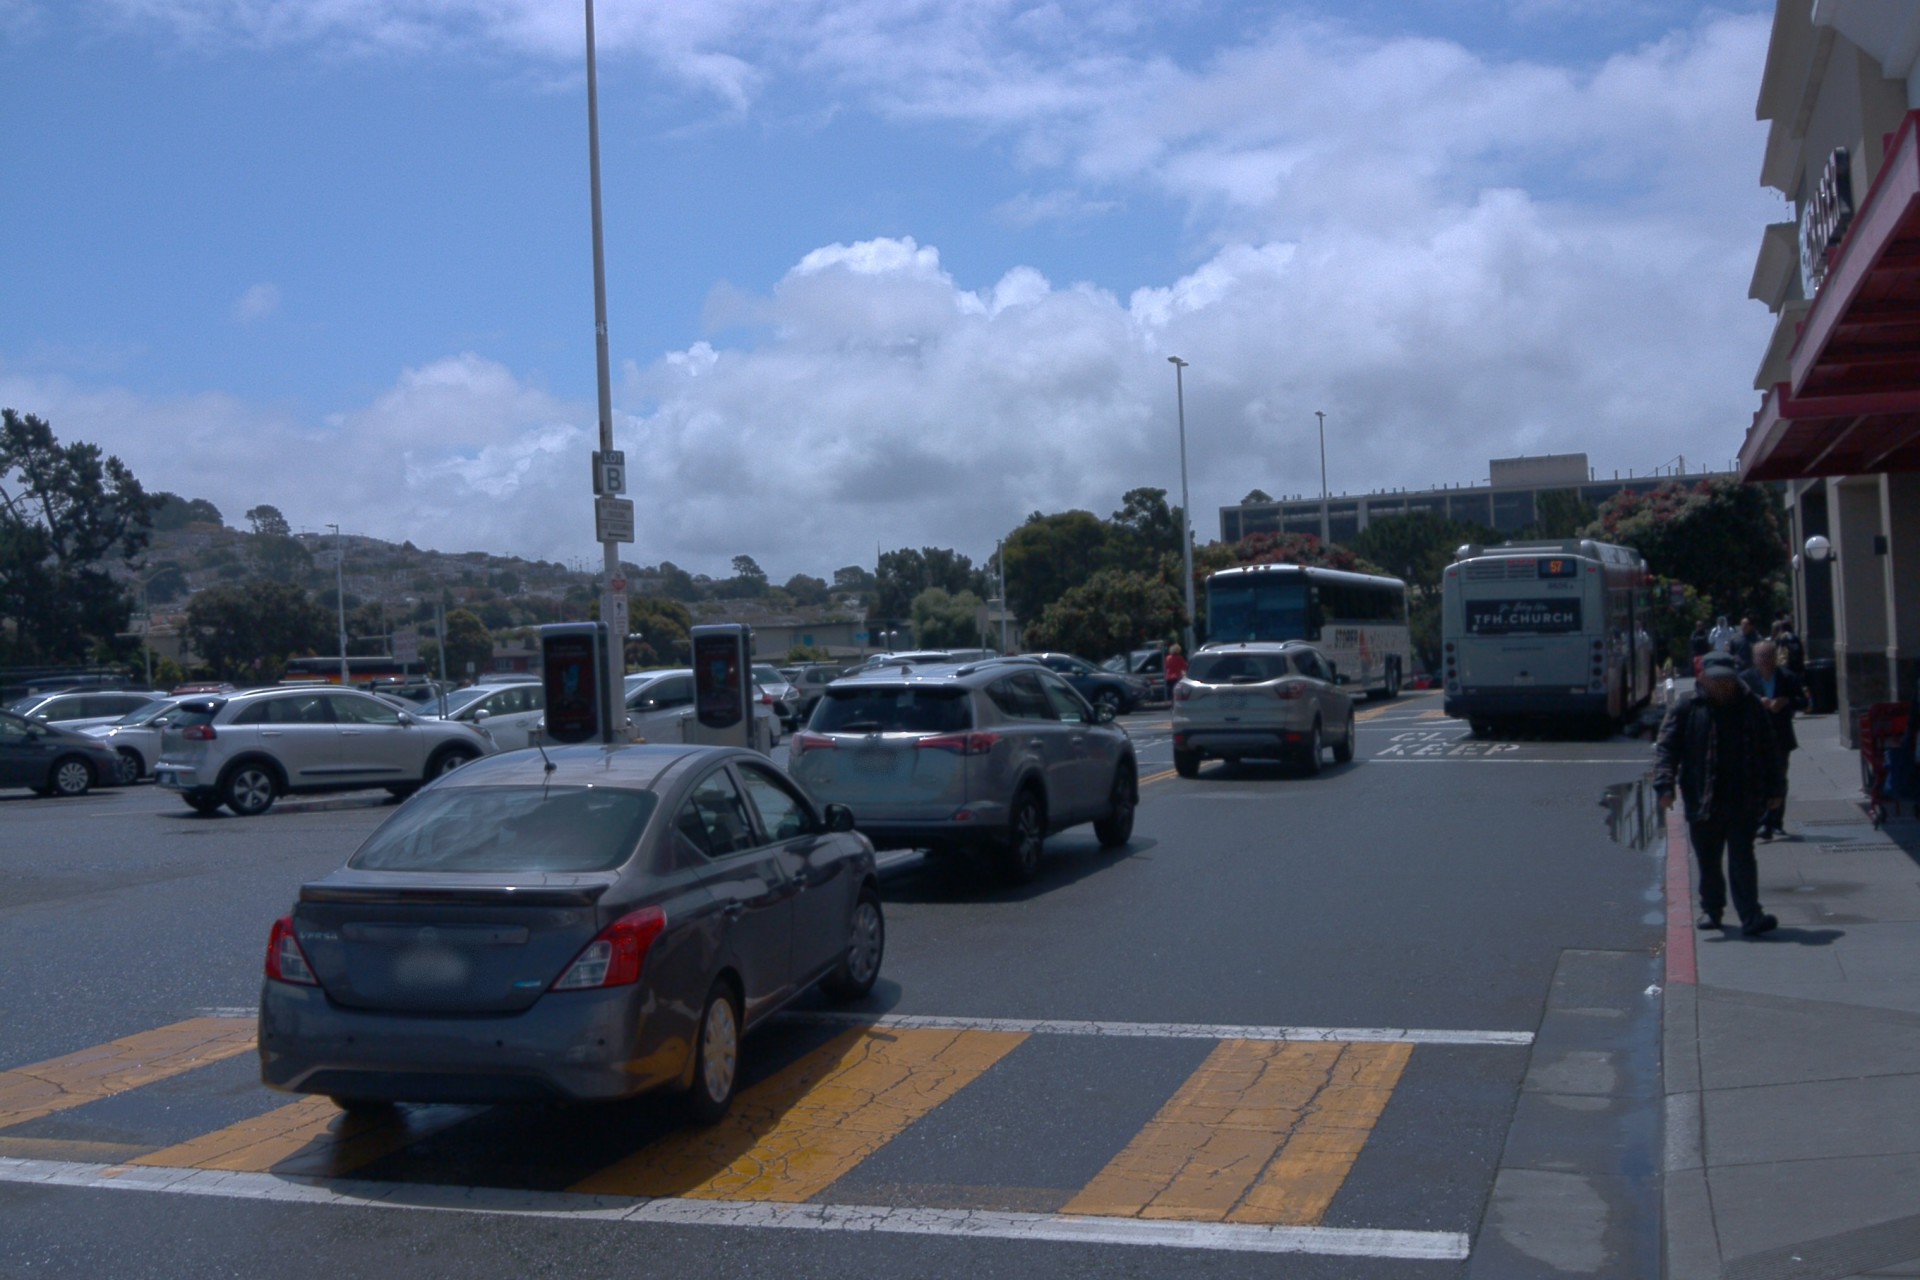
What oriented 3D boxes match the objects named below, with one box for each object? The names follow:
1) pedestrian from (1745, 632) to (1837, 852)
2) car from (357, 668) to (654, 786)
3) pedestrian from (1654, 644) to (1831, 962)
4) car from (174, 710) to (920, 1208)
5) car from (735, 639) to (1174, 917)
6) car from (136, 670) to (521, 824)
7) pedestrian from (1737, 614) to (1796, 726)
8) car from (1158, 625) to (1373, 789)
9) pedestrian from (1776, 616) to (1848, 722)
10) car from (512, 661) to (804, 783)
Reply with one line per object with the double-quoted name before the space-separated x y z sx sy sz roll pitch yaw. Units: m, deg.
"pedestrian" 6.705 0.797 16.613 0.654 1.720 0.806 0 0 20
"car" -7.361 1.356 33.572 4.320 1.700 1.979 -1 1 -43
"pedestrian" 4.441 0.886 11.732 0.891 1.720 0.869 0 0 18
"car" -1.590 1.216 9.604 1.944 1.580 4.220 0 1 11
"car" 0.134 0.964 16.890 2.138 1.900 4.494 0 1 21
"car" -8.058 1.292 26.441 4.301 1.710 1.959 -1 1 -40
"pedestrian" 12.695 0.463 32.384 0.840 1.730 0.980 0 0 21
"car" 4.123 0.796 27.123 2.019 1.960 4.307 0 1 19
"pedestrian" 13.535 0.455 32.689 0.840 1.660 0.884 0 0 7
"car" -4.697 1.228 32.344 4.186 1.700 1.898 -1 1 -42
